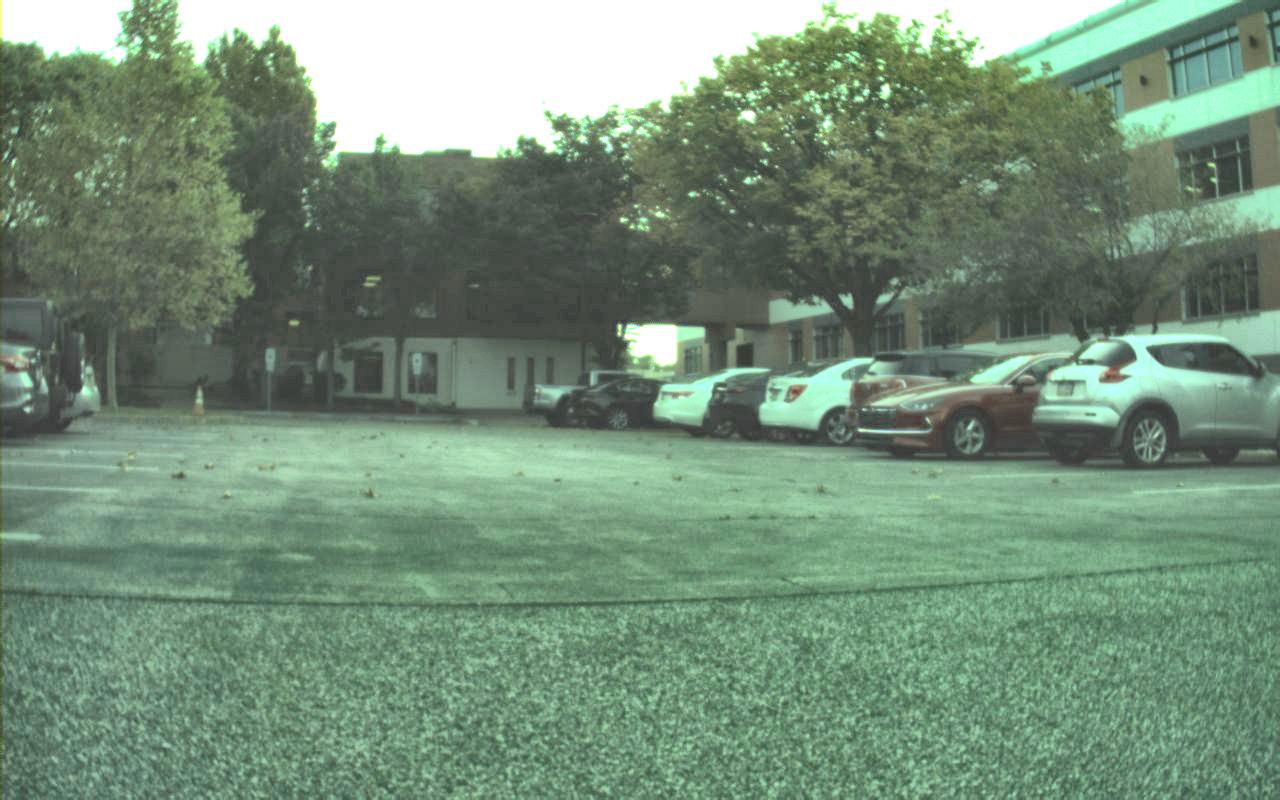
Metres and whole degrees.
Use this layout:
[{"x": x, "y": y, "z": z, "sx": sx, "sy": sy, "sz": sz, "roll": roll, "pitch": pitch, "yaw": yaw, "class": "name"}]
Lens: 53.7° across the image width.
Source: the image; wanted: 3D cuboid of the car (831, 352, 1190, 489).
[{"x": 5.051, "y": 0.222, "z": 16.311, "sx": 4.678, "sy": 1.631, "sz": 1.982, "roll": 0, "pitch": 1, "yaw": -18, "class": "car"}]

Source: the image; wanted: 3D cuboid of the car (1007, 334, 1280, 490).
[{"x": 6.585, "y": 0.120, "z": 13.893, "sx": 4.256, "sy": 1.632, "sz": 1.885, "roll": 0, "pitch": 1, "yaw": -15, "class": "car"}]

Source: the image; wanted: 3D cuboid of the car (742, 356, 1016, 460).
[{"x": 4.163, "y": 0.110, "z": 21.636, "sx": 4.423, "sy": 1.671, "sz": 1.925, "roll": 0, "pitch": 1, "yaw": -15, "class": "car"}]

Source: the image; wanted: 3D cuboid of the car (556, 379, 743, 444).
[{"x": 0.249, "y": 0.271, "z": 33.711, "sx": 4.599, "sy": 1.601, "sz": 1.956, "roll": 0, "pitch": 1, "yaw": -25, "class": "car"}]

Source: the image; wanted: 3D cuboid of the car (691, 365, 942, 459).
[{"x": 3.376, "y": 0.191, "z": 23.928, "sx": 4.428, "sy": 1.652, "sz": 1.938, "roll": 0, "pitch": 1, "yaw": -18, "class": "car"}]

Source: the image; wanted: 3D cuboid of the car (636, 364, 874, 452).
[{"x": 2.393, "y": 0.135, "z": 26.345, "sx": 4.588, "sy": 1.719, "sz": 1.992, "roll": 0, "pitch": 1, "yaw": -14, "class": "car"}]

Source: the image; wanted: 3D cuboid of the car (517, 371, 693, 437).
[{"x": -1.100, "y": 0.091, "z": 38.571, "sx": 5.019, "sy": 1.917, "sz": 2.095, "roll": 0, "pitch": 1, "yaw": -17, "class": "car"}]

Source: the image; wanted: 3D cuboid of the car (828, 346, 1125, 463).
[{"x": 5.352, "y": 0.039, "z": 19.256, "sx": 4.478, "sy": 1.653, "sz": 1.953, "roll": 0, "pitch": 1, "yaw": -20, "class": "car"}]

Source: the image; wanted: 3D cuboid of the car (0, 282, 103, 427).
[{"x": -9.433, "y": -0.548, "z": 14.458, "sx": 4.685, "sy": 1.798, "sz": 2.023, "roll": 0, "pitch": 1, "yaw": -19, "class": "car"}]
